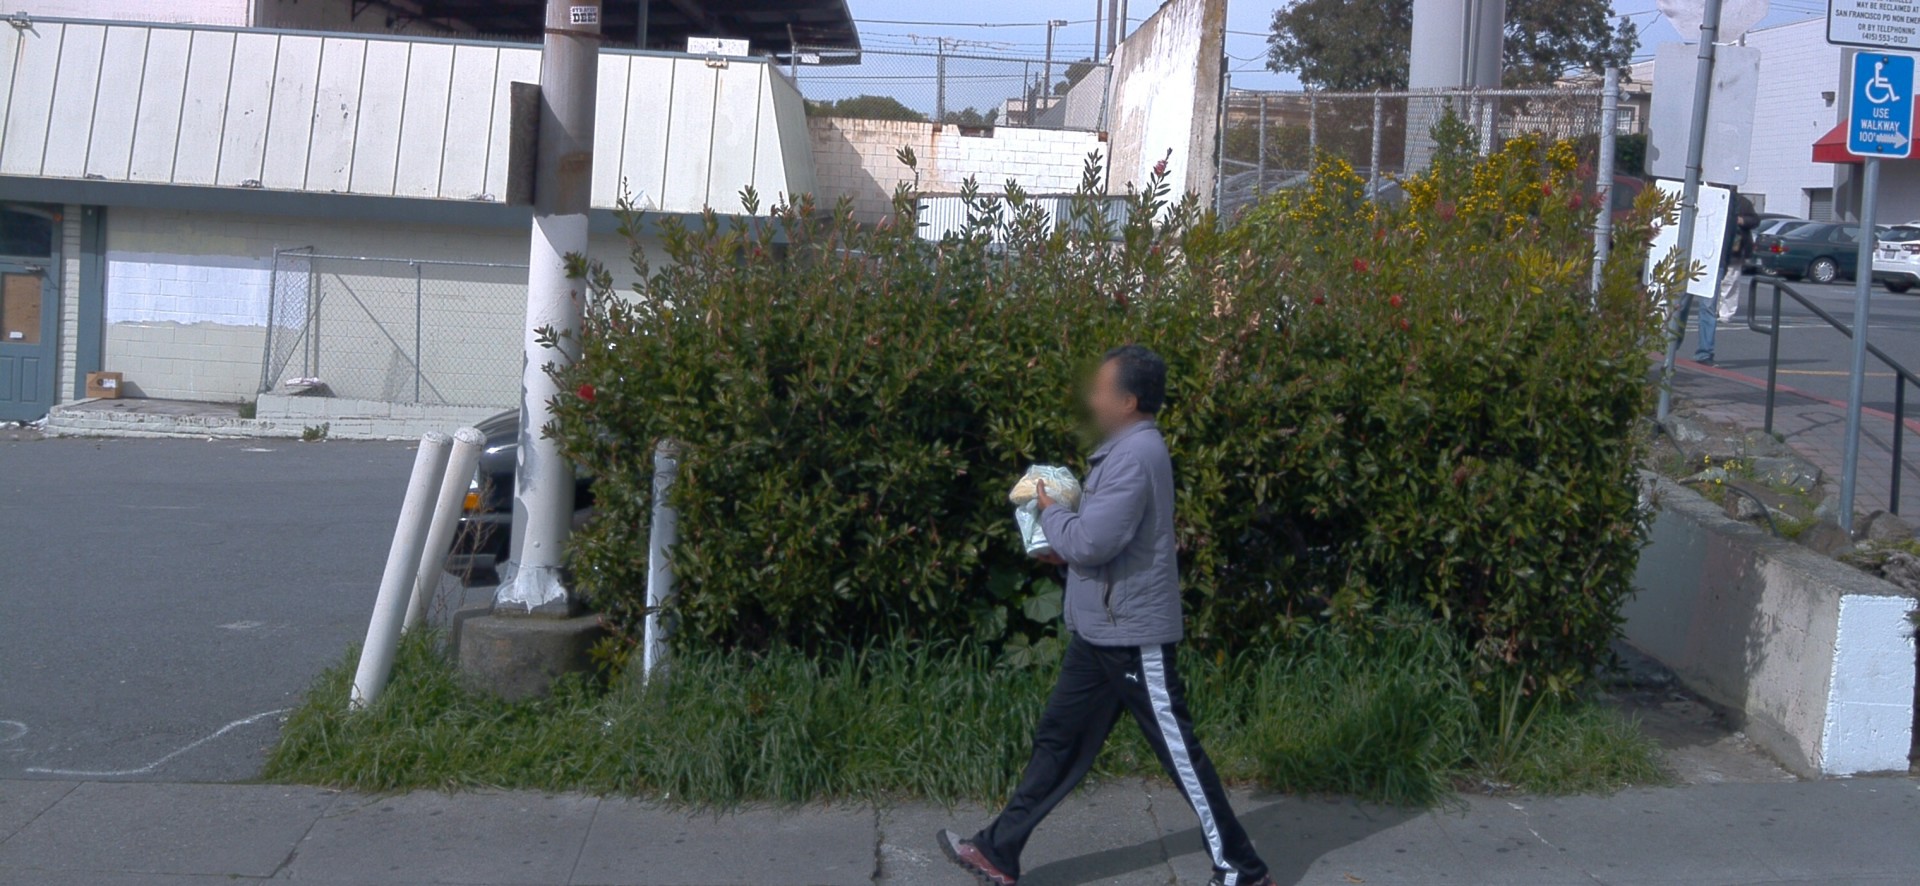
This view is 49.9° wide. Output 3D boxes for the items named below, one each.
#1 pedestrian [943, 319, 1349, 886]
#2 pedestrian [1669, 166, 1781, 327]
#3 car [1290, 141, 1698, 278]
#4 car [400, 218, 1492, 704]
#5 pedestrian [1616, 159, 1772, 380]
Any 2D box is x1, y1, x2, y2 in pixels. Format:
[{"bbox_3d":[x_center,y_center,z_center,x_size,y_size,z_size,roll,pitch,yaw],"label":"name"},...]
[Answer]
[{"bbox_3d":[0.503,0.527,6.072,1.076,1.744,0.945,0,1,-2],"label":"pedestrian"},{"bbox_3d":[8.241,-2.123,22.238,0.870,1.685,0.832,1,2,44],"label":"pedestrian"},{"bbox_3d":[6.956,-3.066,27.246,4.792,1.717,2.140,0,3,-3],"label":"car"},{"bbox_3d":[-0.075,-0.030,10.067,4.799,2.108,2.006,0,3,-2],"label":"car"},{"bbox_3d":[5.713,-1.362,16.120,1.009,1.670,0.952,0,1,10],"label":"pedestrian"}]
